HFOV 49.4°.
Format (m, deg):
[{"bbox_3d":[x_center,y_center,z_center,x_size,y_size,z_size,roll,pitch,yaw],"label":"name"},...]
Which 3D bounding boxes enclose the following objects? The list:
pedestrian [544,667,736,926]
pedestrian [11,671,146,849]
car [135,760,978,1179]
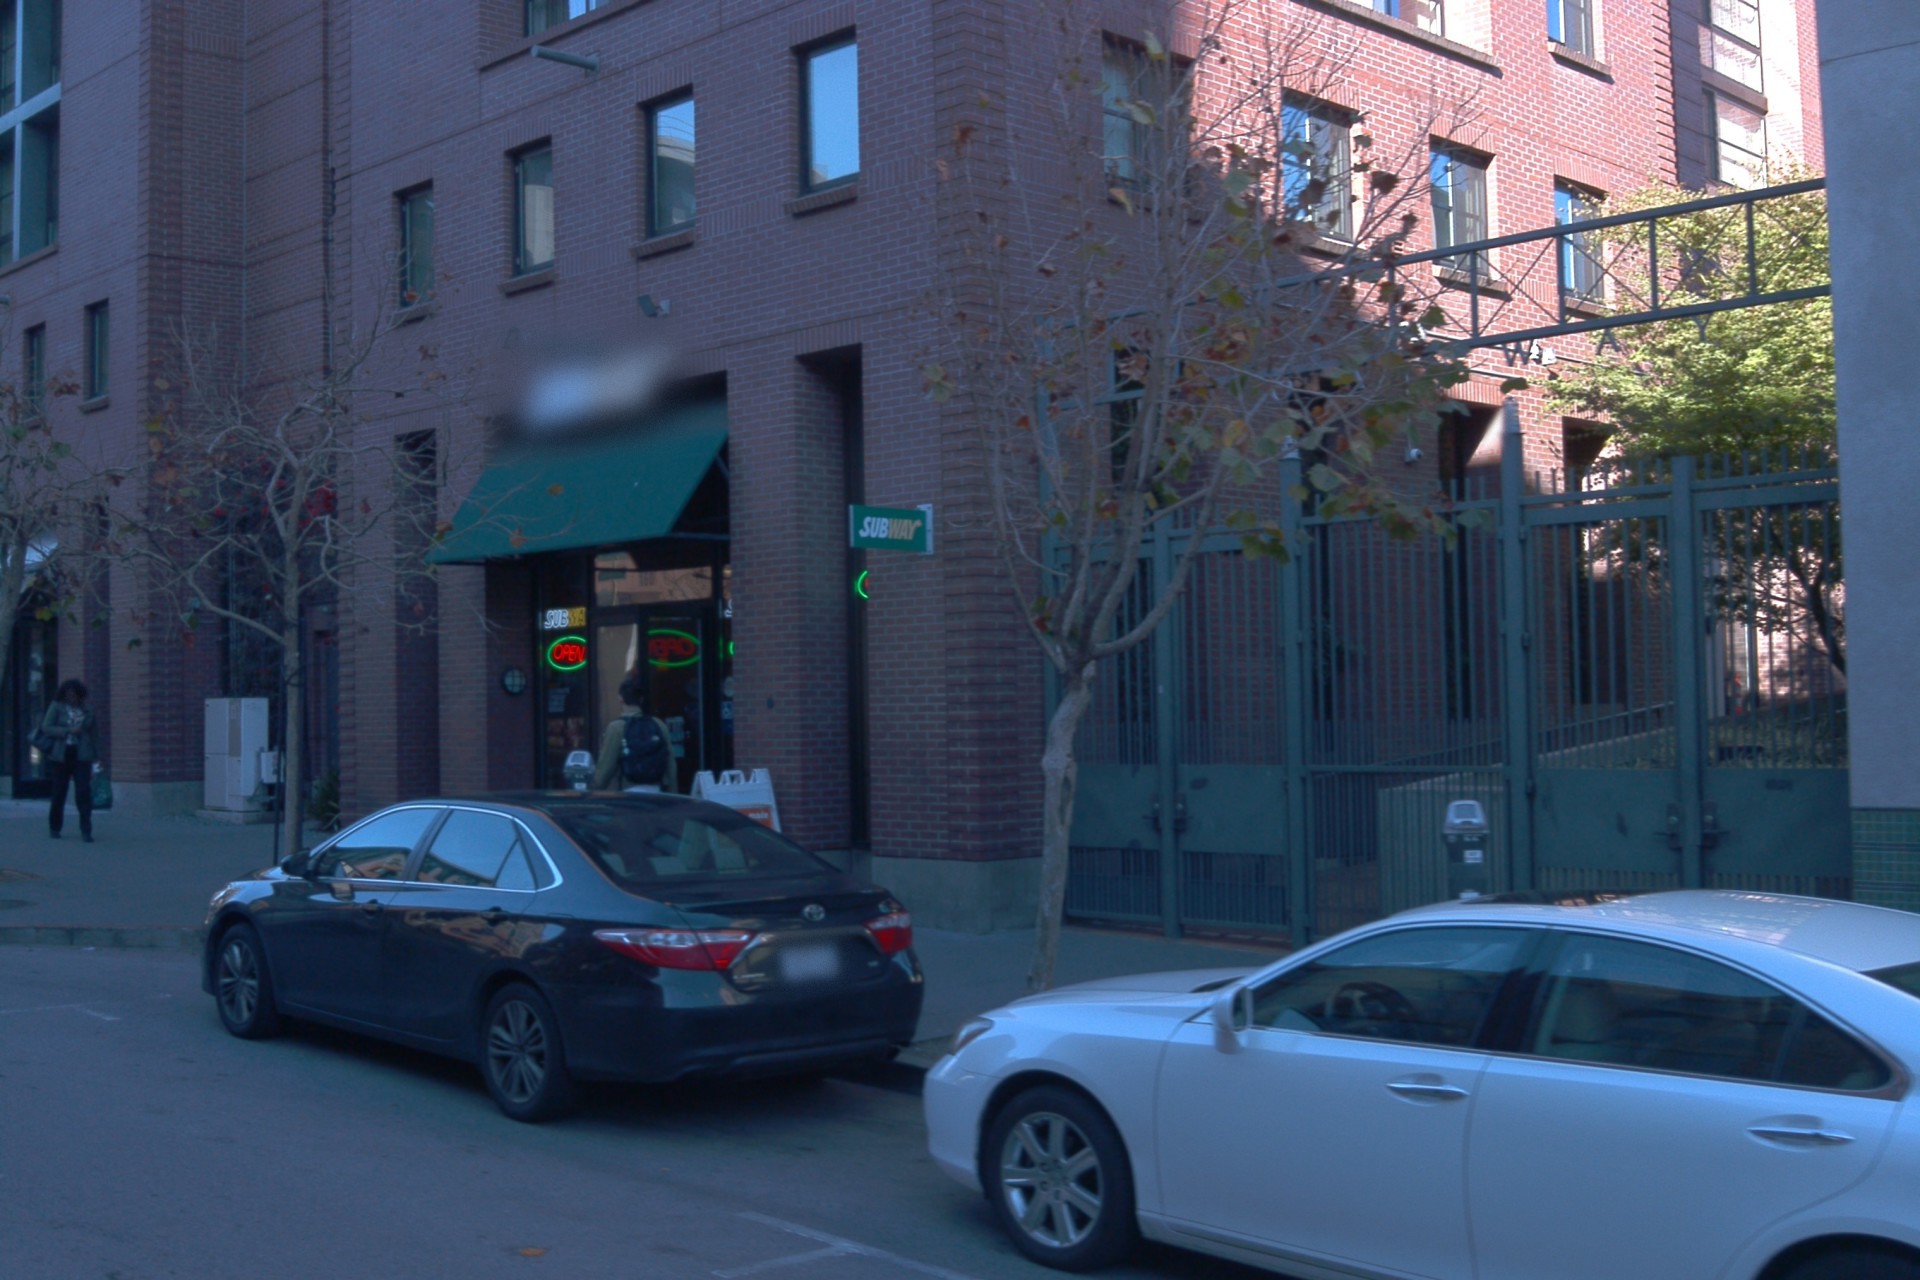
[{"bbox_3d":[-2.518,1.184,16.392,0.992,1.930,1.153,0,0,-44],"label":"pedestrian"},{"bbox_3d":[-9.347,1.237,22.117,1.059,1.810,1.108,0,0,-38],"label":"pedestrian"},{"bbox_3d":[-2.368,1.525,11.195,4.894,1.510,2.006,0,0,44],"label":"car"}]
